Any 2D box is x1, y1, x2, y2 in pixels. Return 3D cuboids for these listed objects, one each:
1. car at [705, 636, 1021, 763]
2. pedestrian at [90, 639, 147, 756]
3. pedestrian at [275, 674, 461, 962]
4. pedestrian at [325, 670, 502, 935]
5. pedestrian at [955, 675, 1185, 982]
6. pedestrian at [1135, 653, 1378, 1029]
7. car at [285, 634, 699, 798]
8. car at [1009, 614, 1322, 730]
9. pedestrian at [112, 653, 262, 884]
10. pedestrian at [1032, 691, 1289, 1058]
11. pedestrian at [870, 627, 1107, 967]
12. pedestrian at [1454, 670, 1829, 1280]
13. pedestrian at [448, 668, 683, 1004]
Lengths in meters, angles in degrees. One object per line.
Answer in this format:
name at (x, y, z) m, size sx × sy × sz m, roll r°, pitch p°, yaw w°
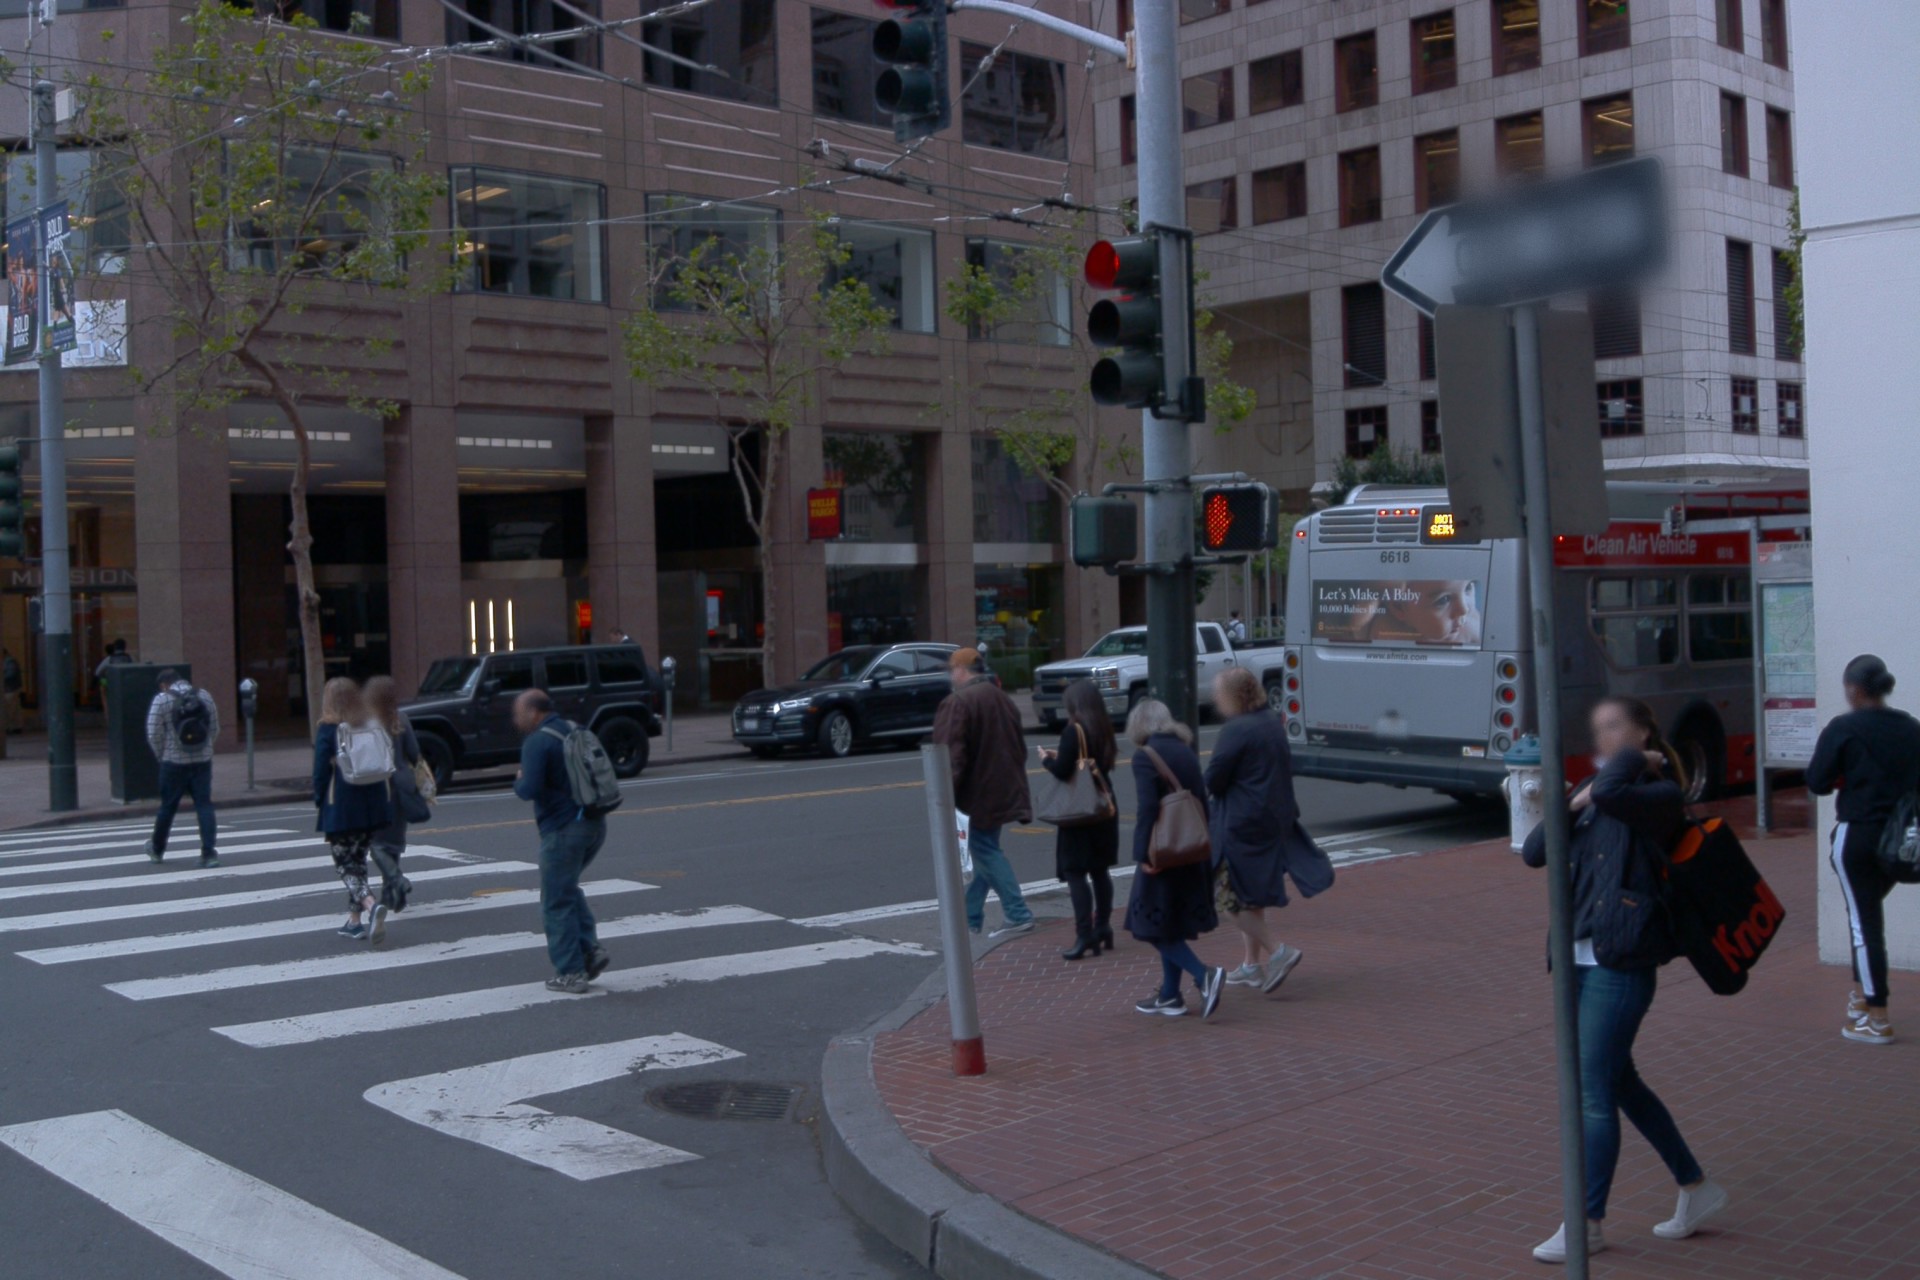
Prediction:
car at (-1.435, 0.843, 31.611) m, size 4.539 × 1.770 × 2.126 m, roll -1°, pitch 1°, yaw -43°
pedestrian at (-13.127, 0.880, 32.096) m, size 0.780 × 1.775 × 1.054 m, roll 0°, pitch 0°, yaw -19°
pedestrian at (-3.790, 1.093, 13.145) m, size 0.990 × 1.726 × 0.748 m, roll 0°, pitch 0°, yaw 45°
pedestrian at (-3.799, 1.086, 14.279) m, size 0.841 × 1.726 × 0.975 m, roll 0°, pitch 0°, yaw -41°
pedestrian at (0.626, 1.020, 11.624) m, size 0.971 × 1.606 × 0.869 m, roll 0°, pitch 0°, yaw 39°
pedestrian at (1.450, 0.933, 10.080) m, size 0.921 × 1.716 × 0.737 m, roll 0°, pitch 0°, yaw 44°
car at (-6.152, 0.920, 27.424) m, size 4.963 × 1.950 × 2.149 m, roll -1°, pitch 1°, yaw -43°
car at (3.732, 0.494, 36.418) m, size 5.778 × 1.890 × 2.385 m, roll -1°, pitch 1°, yaw -45°
pedestrian at (-6.407, 1.030, 17.036) m, size 1.066 × 1.816 × 0.777 m, roll 0°, pitch 0°, yaw 44°
pedestrian at (0.927, 1.033, 9.524) m, size 0.899 × 1.556 × 0.776 m, roll 0°, pitch 0°, yaw 41°
pedestrian at (0.165, 0.906, 12.679) m, size 0.950 × 1.968 × 1.152 m, roll 0°, pitch 0°, yaw -36°
pedestrian at (1.941, 0.956, 5.992) m, size 0.900 × 1.716 × 0.834 m, roll 0°, pitch 0°, yaw 9°
pedestrian at (-2.234, 1.062, 11.659) m, size 1.009 × 1.776 × 0.829 m, roll 0°, pitch 0°, yaw 31°
